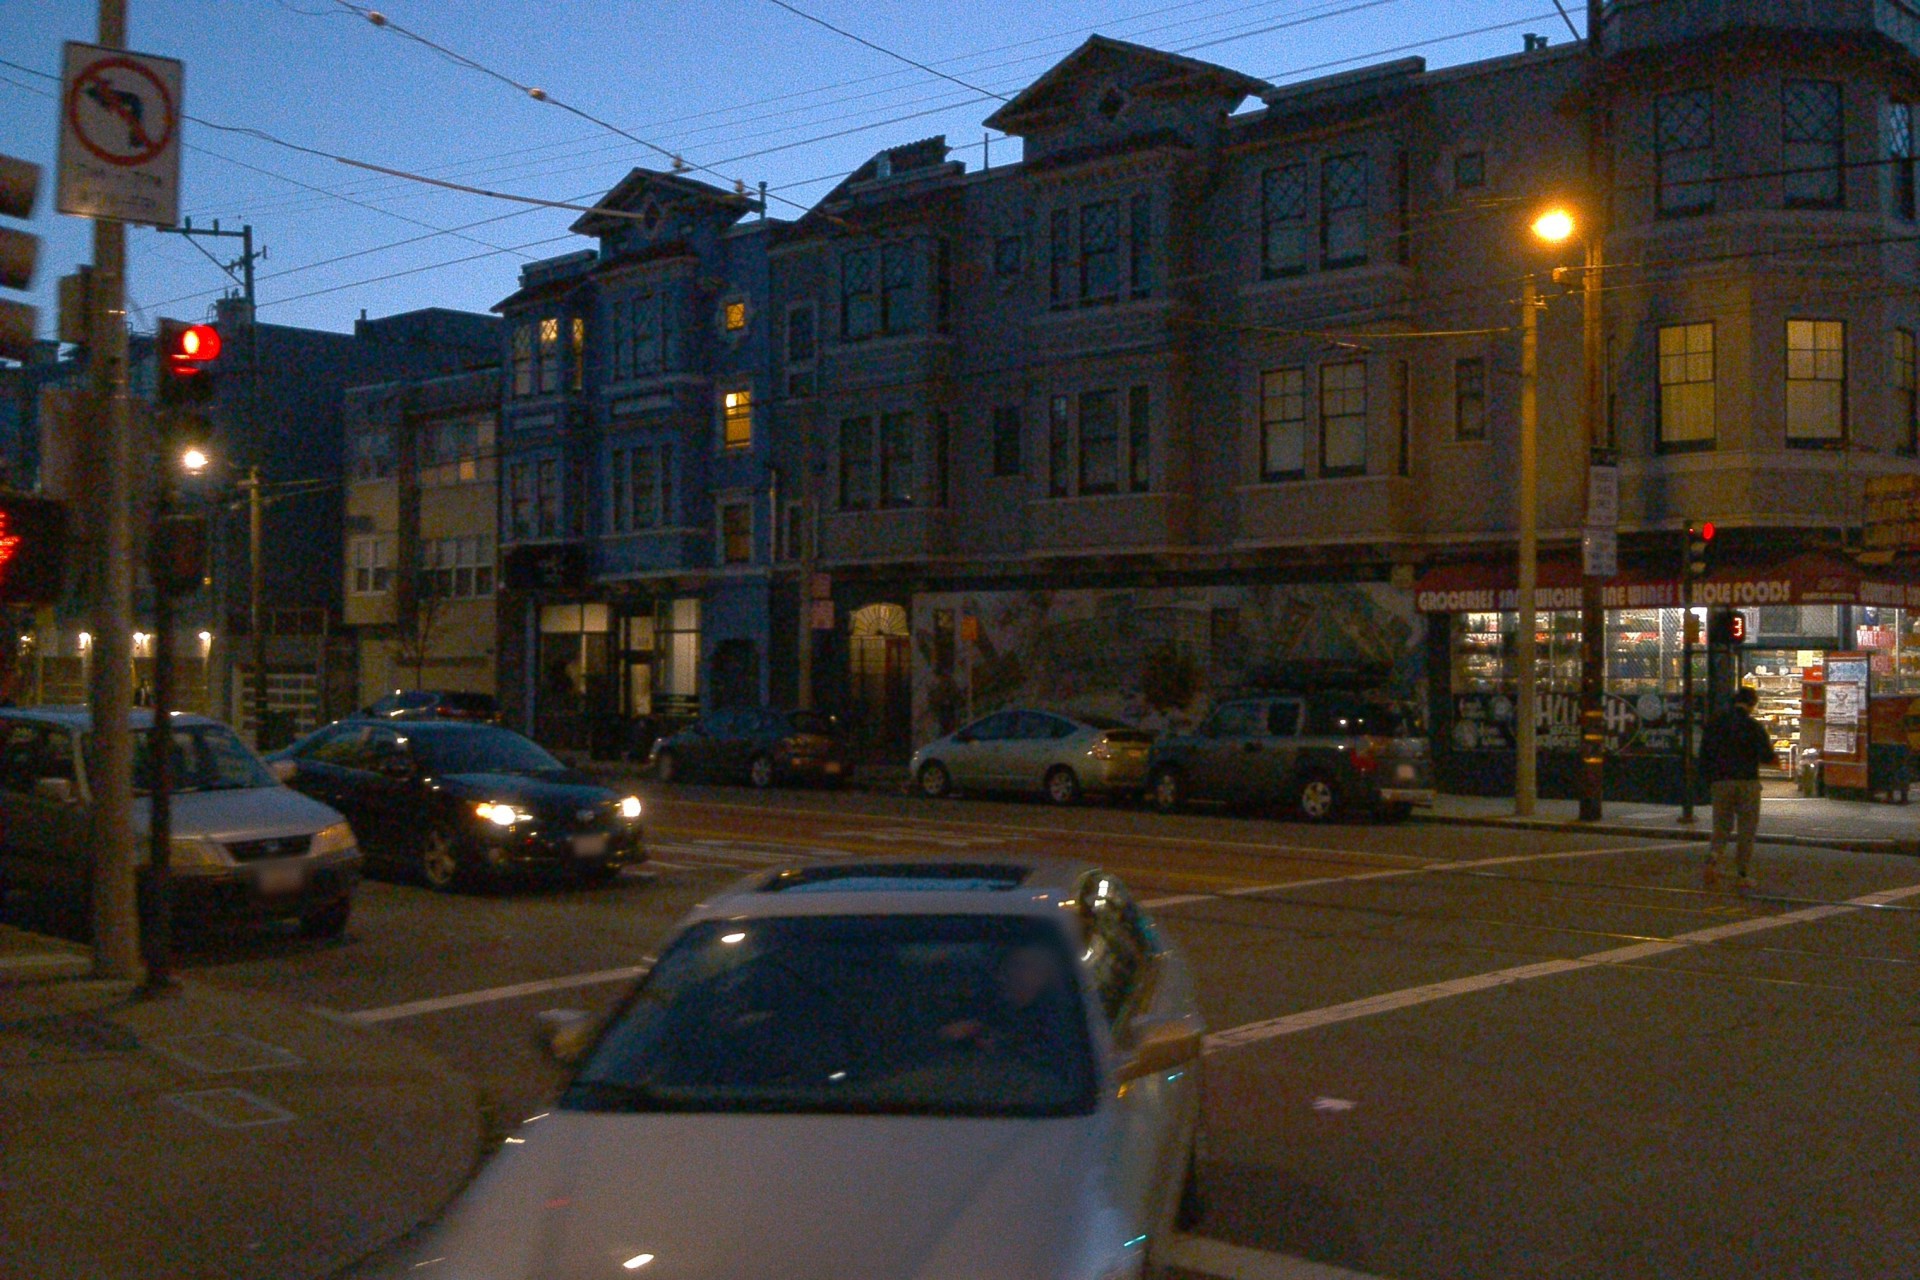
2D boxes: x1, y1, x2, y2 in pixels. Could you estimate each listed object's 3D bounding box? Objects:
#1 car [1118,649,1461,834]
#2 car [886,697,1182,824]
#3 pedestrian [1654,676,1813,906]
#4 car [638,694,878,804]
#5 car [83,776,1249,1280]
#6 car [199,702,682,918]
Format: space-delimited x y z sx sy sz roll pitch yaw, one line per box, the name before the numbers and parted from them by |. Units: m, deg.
car | 4.499 1.302 28.612 2.036 2.260 4.341 -1 1 -44
car | 1.087 1.798 31.989 4.426 1.640 1.960 1 1 45
pedestrian | 6.990 1.322 18.635 0.905 1.930 1.275 1 1 43
car | -3.633 1.876 36.658 4.160 1.650 2.039 1 1 44
car | -0.250 1.418 6.259 2.131 1.580 4.909 0 1 9
car | -4.926 1.451 19.148 4.834 1.520 2.109 1 1 44
